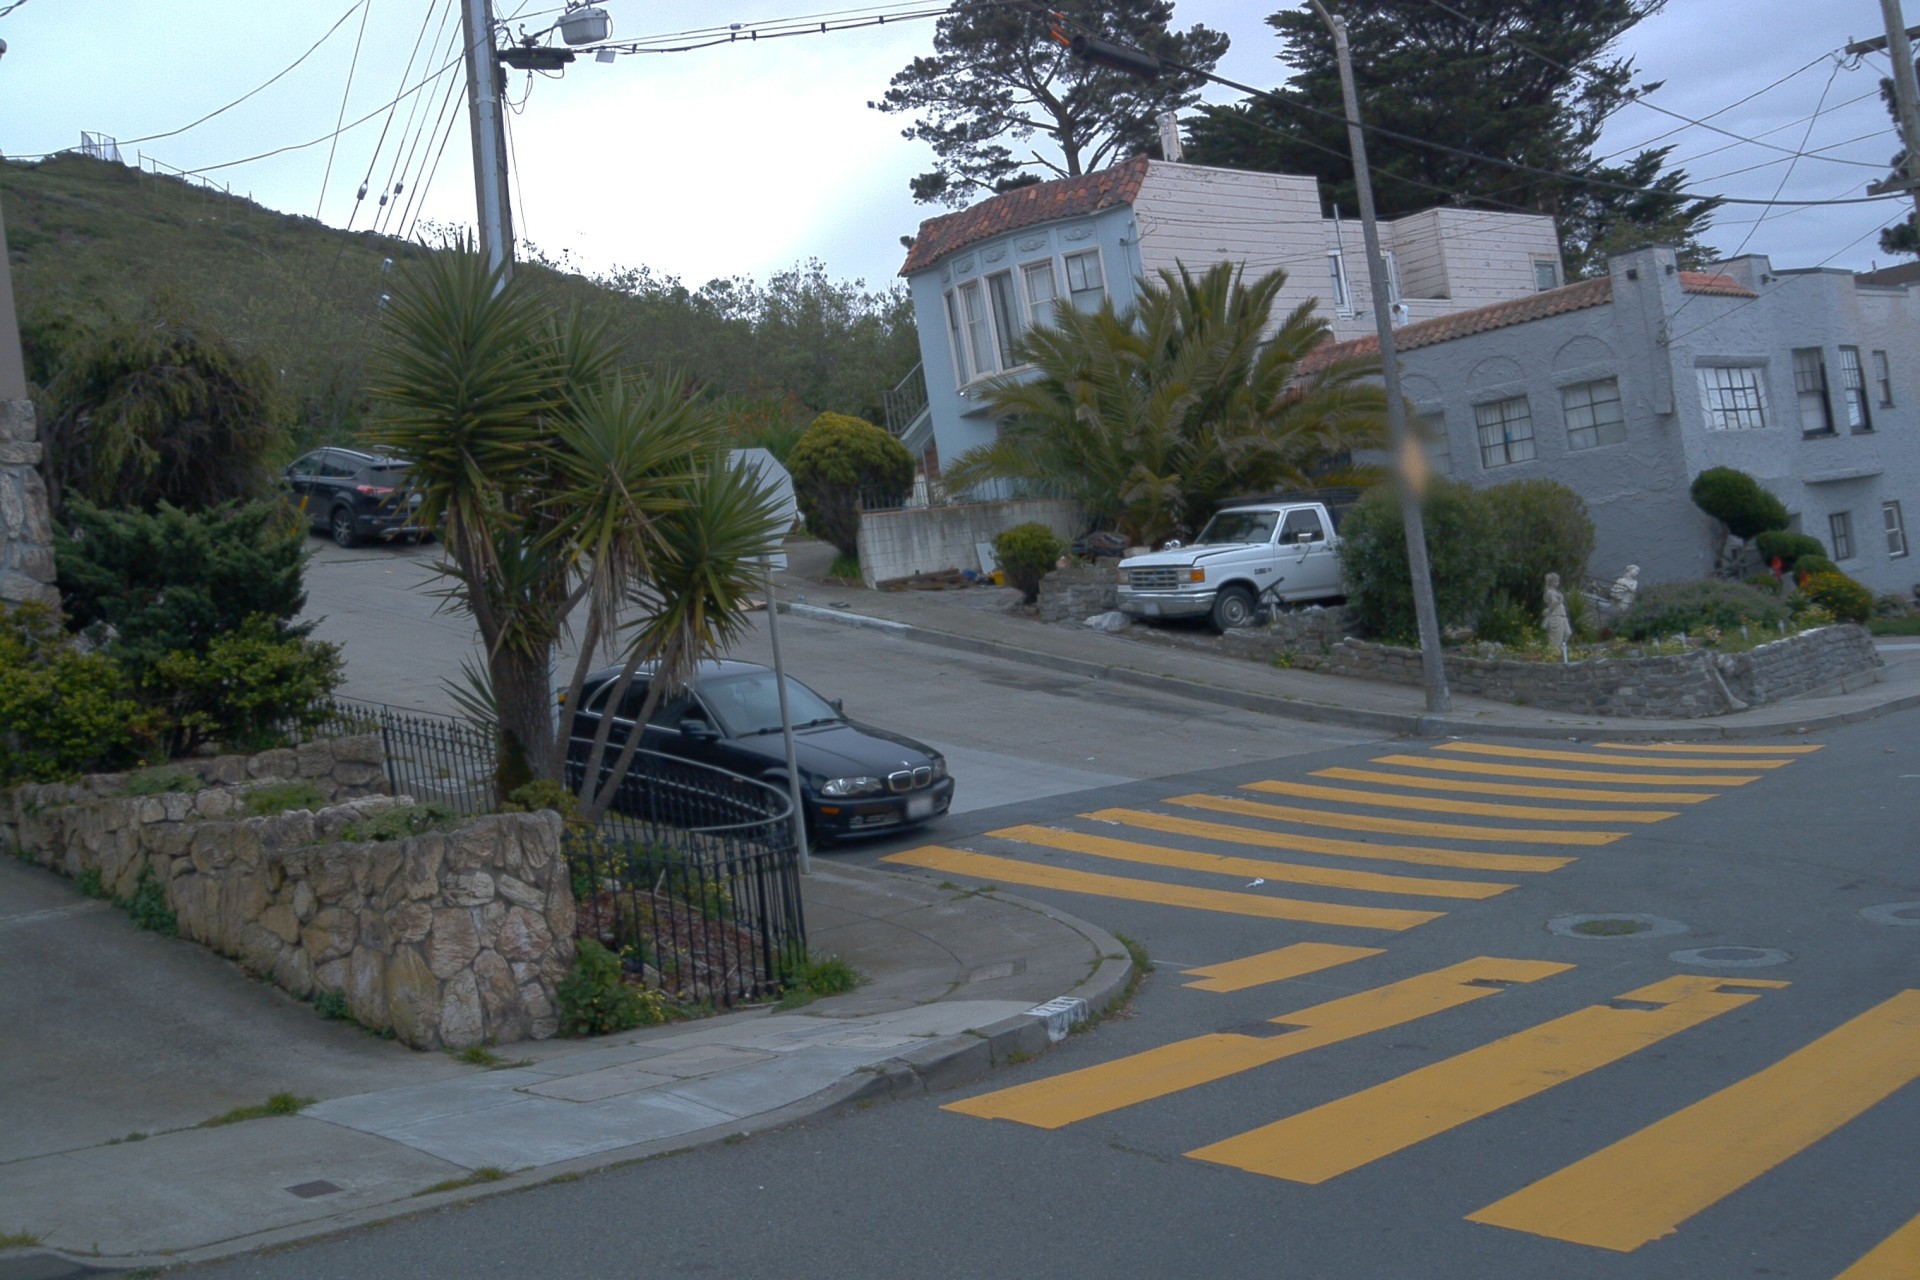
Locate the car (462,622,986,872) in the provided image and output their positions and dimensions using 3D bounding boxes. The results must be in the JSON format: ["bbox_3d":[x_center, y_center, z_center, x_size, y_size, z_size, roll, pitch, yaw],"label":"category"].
[{"bbox_3d":[-2.168,0.802,17.996,4.569,1.890,2.007,1,1,41],"label":"car"}]

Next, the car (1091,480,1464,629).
[{"bbox_3d":[4.656,-1.173,29.860,5.126,2.000,2.229,0,1,-31],"label":"car"}]
